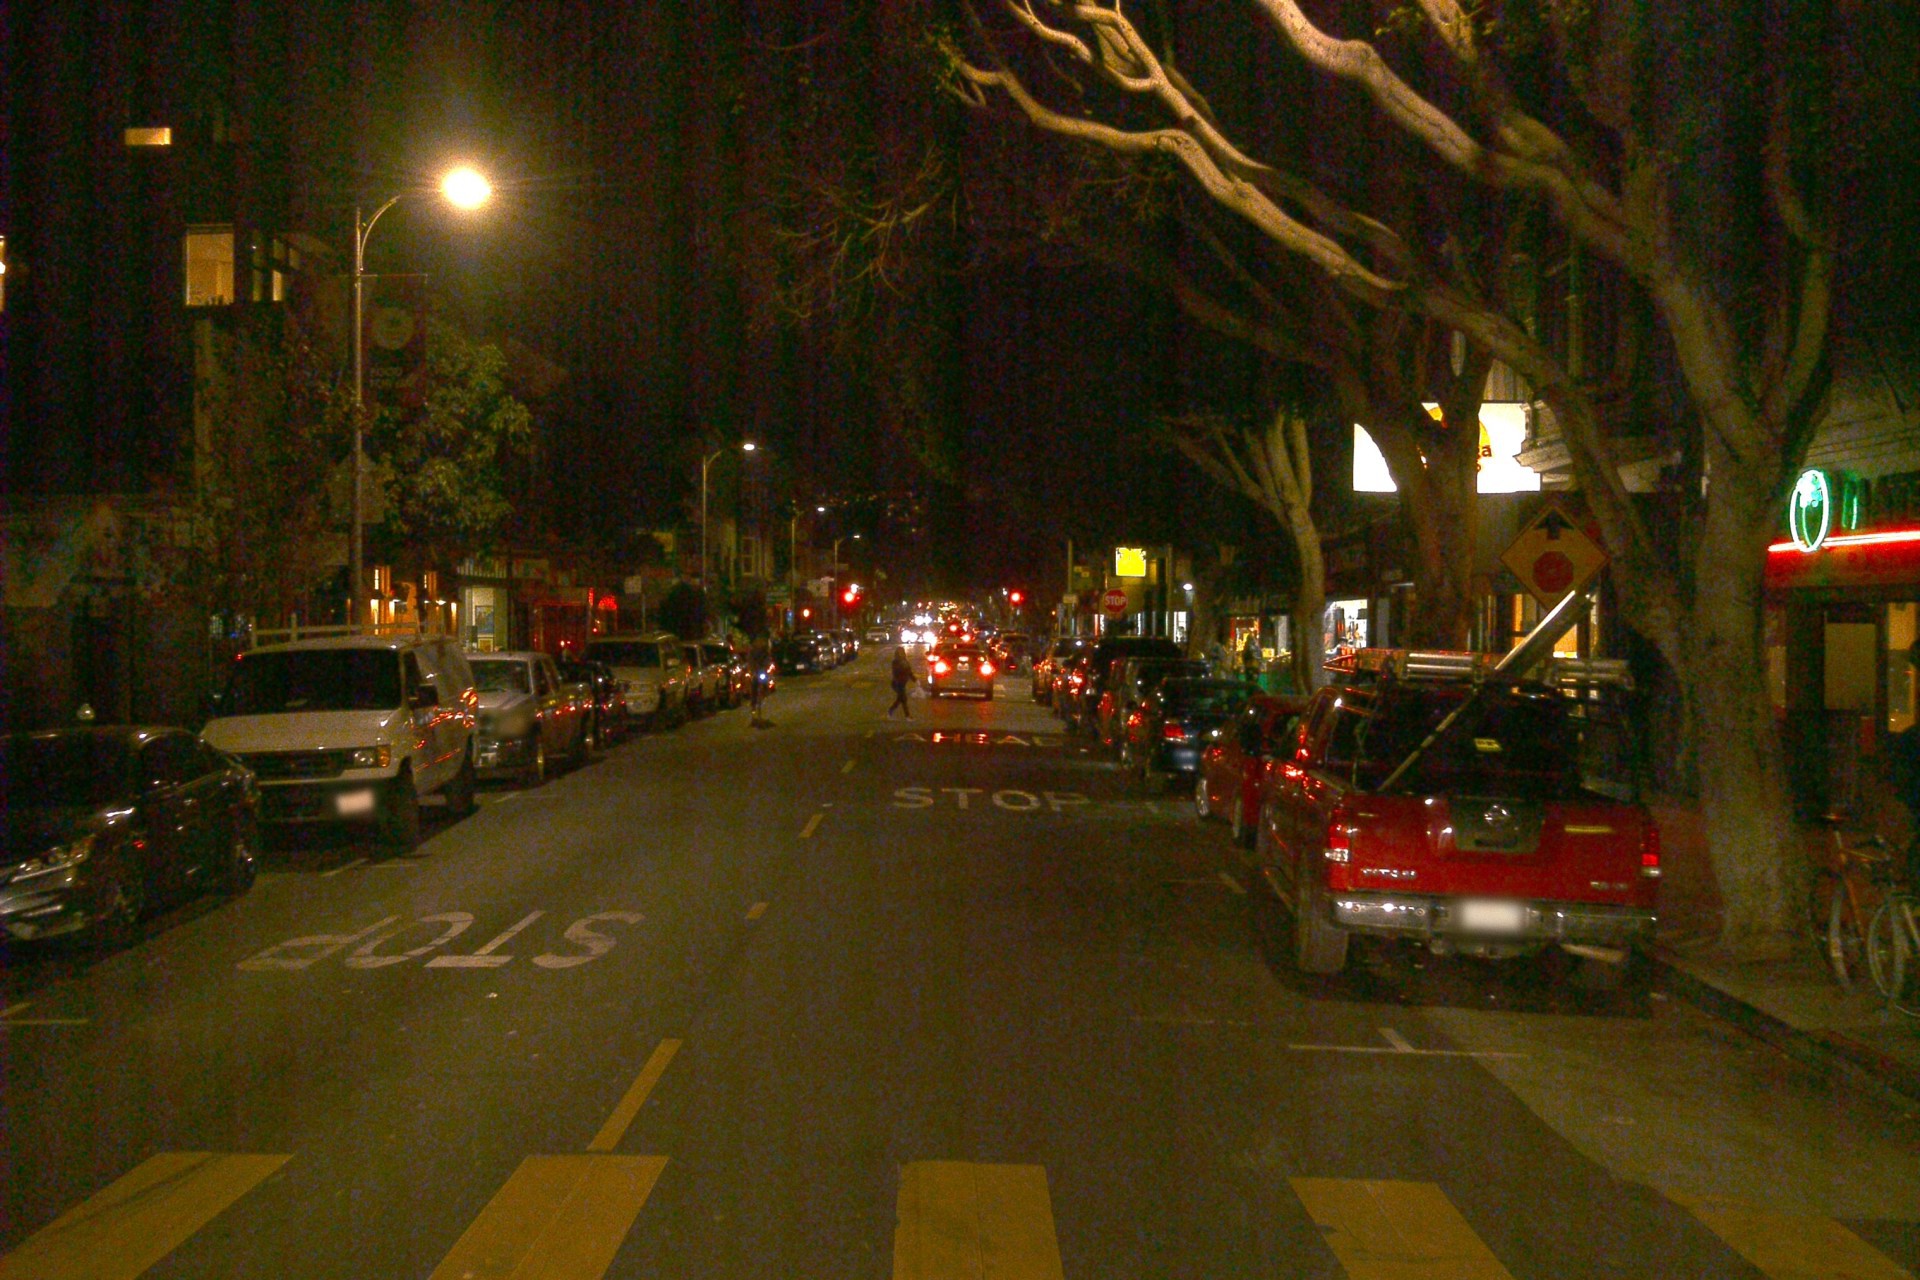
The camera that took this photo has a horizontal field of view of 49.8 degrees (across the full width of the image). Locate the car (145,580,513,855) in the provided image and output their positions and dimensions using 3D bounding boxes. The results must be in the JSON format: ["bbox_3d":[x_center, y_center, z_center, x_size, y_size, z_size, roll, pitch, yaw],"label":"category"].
[{"bbox_3d":[-6.509,0.743,22.163,2.538,2.560,5.514,0,0,-3],"label":"car"}]

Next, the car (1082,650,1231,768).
[{"bbox_3d":[3.120,1.063,33.607,1.973,1.780,3.973,0,0,0],"label":"car"}]

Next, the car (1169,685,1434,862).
[{"bbox_3d":[3.445,1.305,21.702,2.035,1.590,4.287,0,0,0],"label":"car"}]

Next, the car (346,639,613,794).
[{"bbox_3d":[-6.573,0.985,29.136,2.384,1.930,5.953,0,0,0],"label":"car"}]

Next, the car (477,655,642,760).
[{"bbox_3d":[-6.792,1.104,35.545,2.108,1.660,4.521,0,0,-2],"label":"car"}]

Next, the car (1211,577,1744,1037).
[{"bbox_3d":[3.240,0.933,14.663,2.610,2.510,6.381,0,0,5],"label":"car"}]

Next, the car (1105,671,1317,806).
[{"bbox_3d":[3.238,1.240,27.813,2.120,1.590,5.116,0,0,-1],"label":"car"}]
